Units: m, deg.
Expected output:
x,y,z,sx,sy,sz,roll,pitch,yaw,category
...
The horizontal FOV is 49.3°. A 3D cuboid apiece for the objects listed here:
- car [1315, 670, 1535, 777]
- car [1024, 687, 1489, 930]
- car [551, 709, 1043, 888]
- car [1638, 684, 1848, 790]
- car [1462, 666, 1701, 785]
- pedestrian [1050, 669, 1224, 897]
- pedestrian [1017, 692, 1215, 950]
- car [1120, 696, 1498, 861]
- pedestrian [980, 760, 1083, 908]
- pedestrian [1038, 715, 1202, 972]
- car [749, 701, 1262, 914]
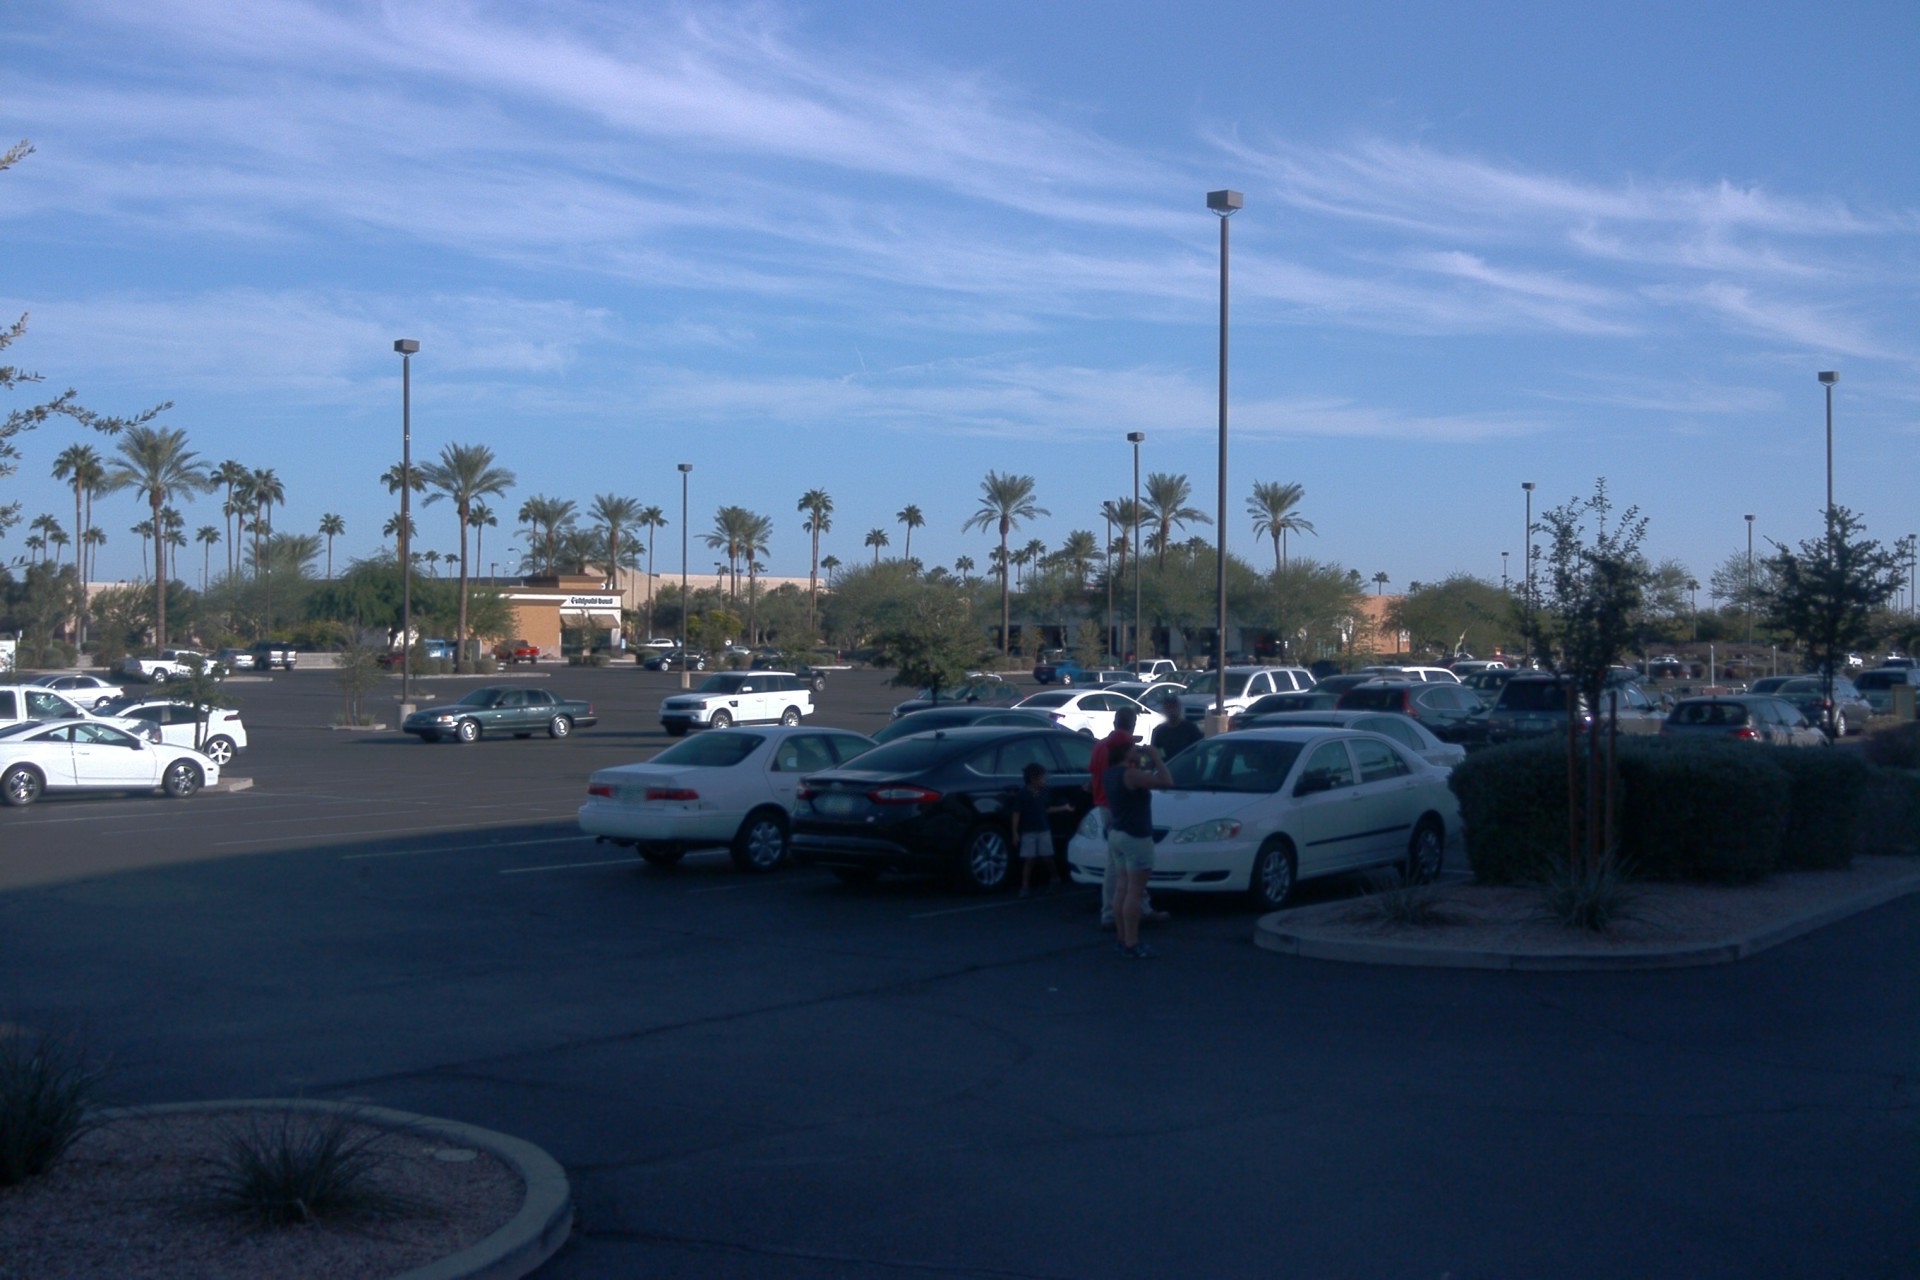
x,y,z,sx,sy,sz,roll,pitch,yaw,category
8.428,1.438,37.613,1.928,1.730,4.721,0,0,39,car
2.784,1.366,18.692,1.907,1.770,4.730,0,0,40,car
-1.608,1.559,21.925,4.908,1.500,2.033,0,0,-42,car
12.751,1.516,33.913,1.852,1.490,4.453,0,0,39,car
10.754,1.392,35.961,2.246,1.820,4.801,0,0,39,car
1.641,1.284,19.377,1.223,2.000,1.069,0,0,38,pedestrian
1.187,1.348,16.120,1.119,1.850,1.168,0,0,-22,pedestrian
4.244,1.530,24.712,2.190,1.580,5.110,0,0,39,car
0.636,1.685,18.350,0.836,1.210,0.813,0,0,7,pedestrian
1.147,1.424,15.015,0.823,1.720,0.846,0,0,43,pedestrian
0.582,1.482,20.159,2.063,1.630,5.110,0,0,43,car
